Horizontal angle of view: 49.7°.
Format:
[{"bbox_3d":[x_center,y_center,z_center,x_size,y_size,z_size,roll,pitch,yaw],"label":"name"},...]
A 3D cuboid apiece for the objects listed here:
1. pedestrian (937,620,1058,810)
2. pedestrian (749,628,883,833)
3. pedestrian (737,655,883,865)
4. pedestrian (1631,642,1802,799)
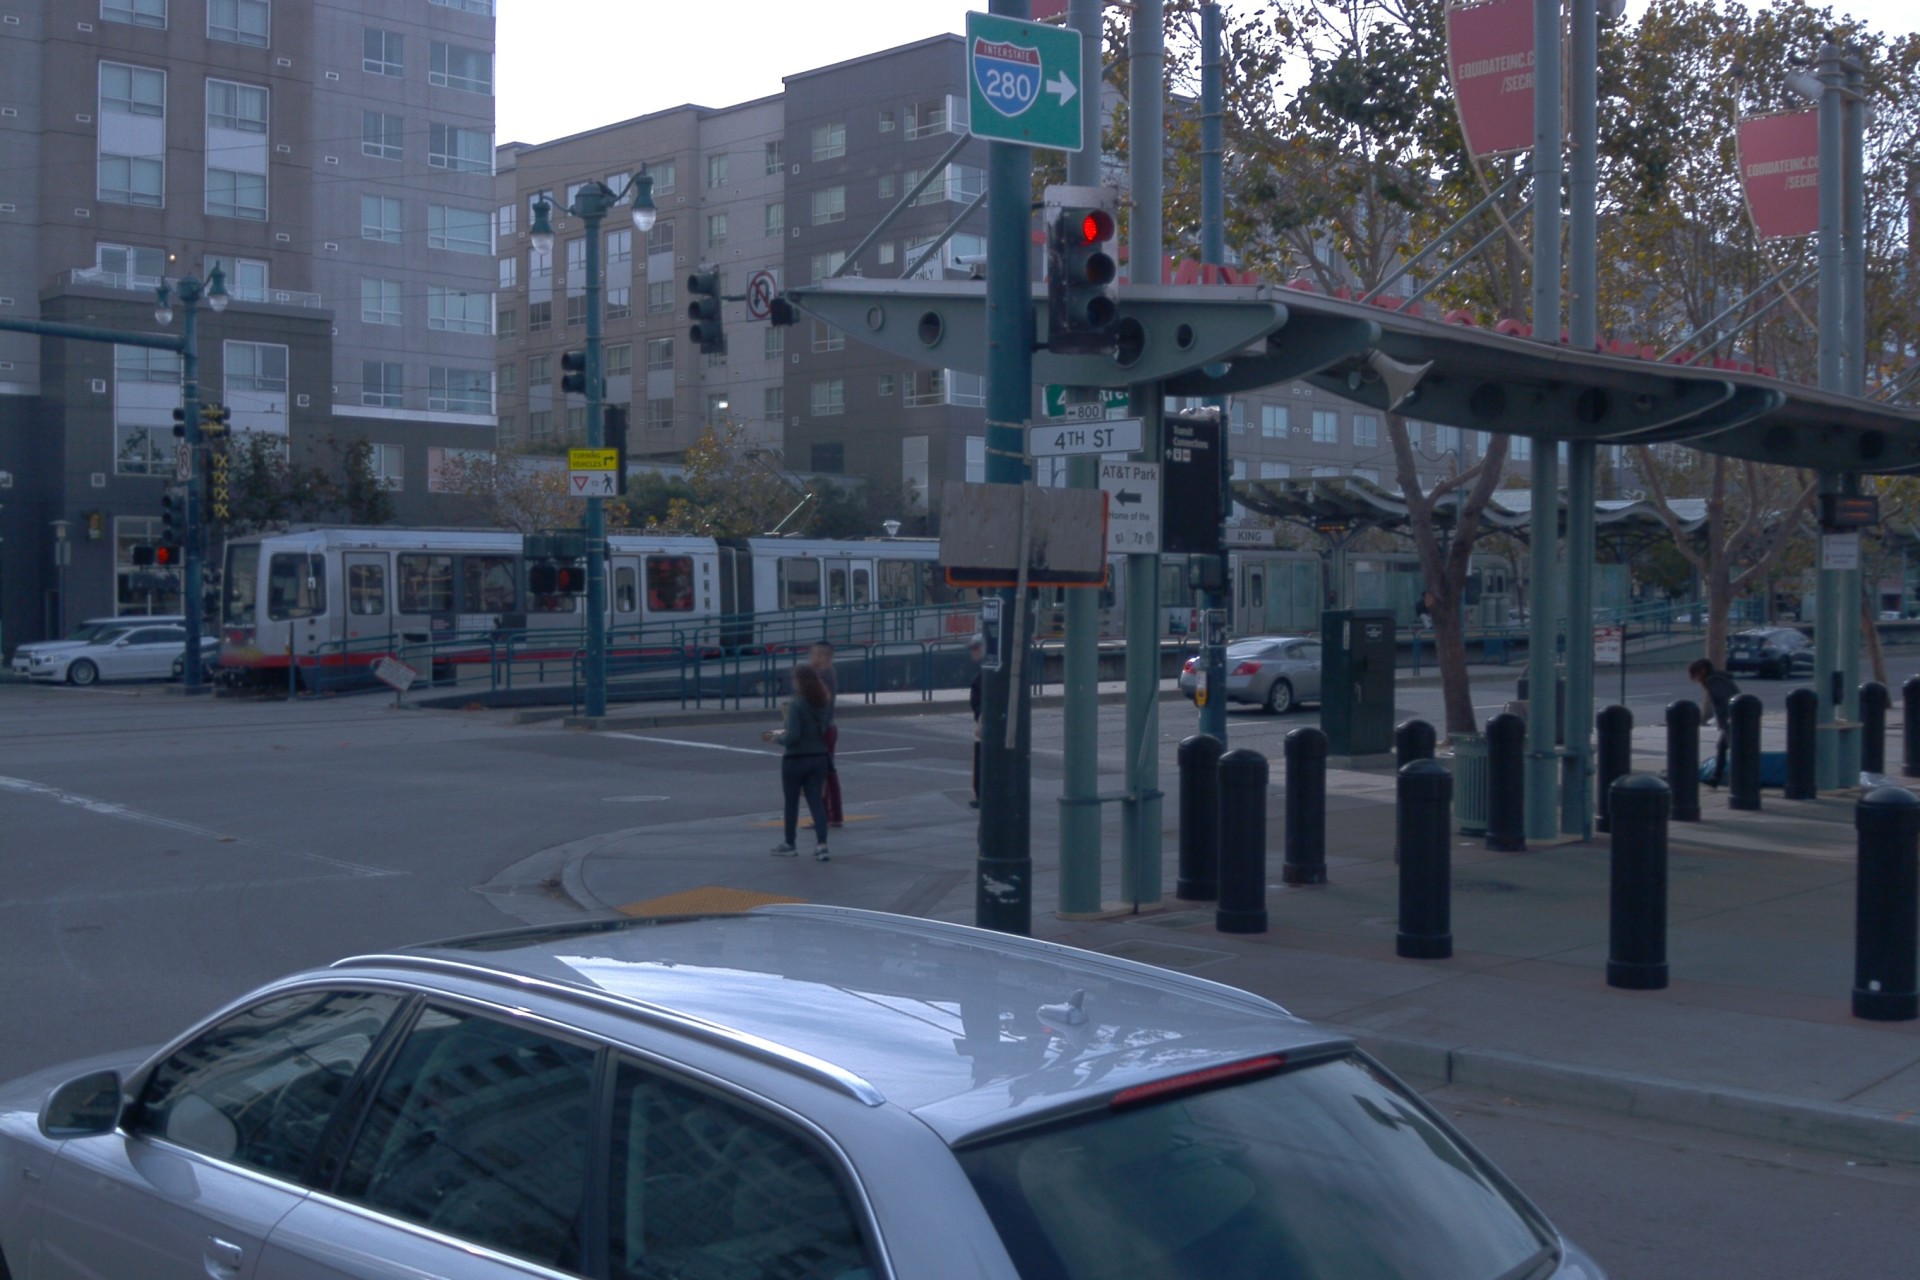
[{"bbox_3d":[0.383,0.735,20.824,0.867,1.858,0.865,1,0,31],"label":"pedestrian"},{"bbox_3d":[-1.314,0.809,19.055,0.980,1.819,0.928,1,0,12],"label":"pedestrian"},{"bbox_3d":[-1.233,0.953,16.960,0.678,1.642,1.016,1,0,-43],"label":"pedestrian"},{"bbox_3d":[8.015,0.832,21.976,1.218,1.605,1.169,1,0,-18],"label":"pedestrian"}]
